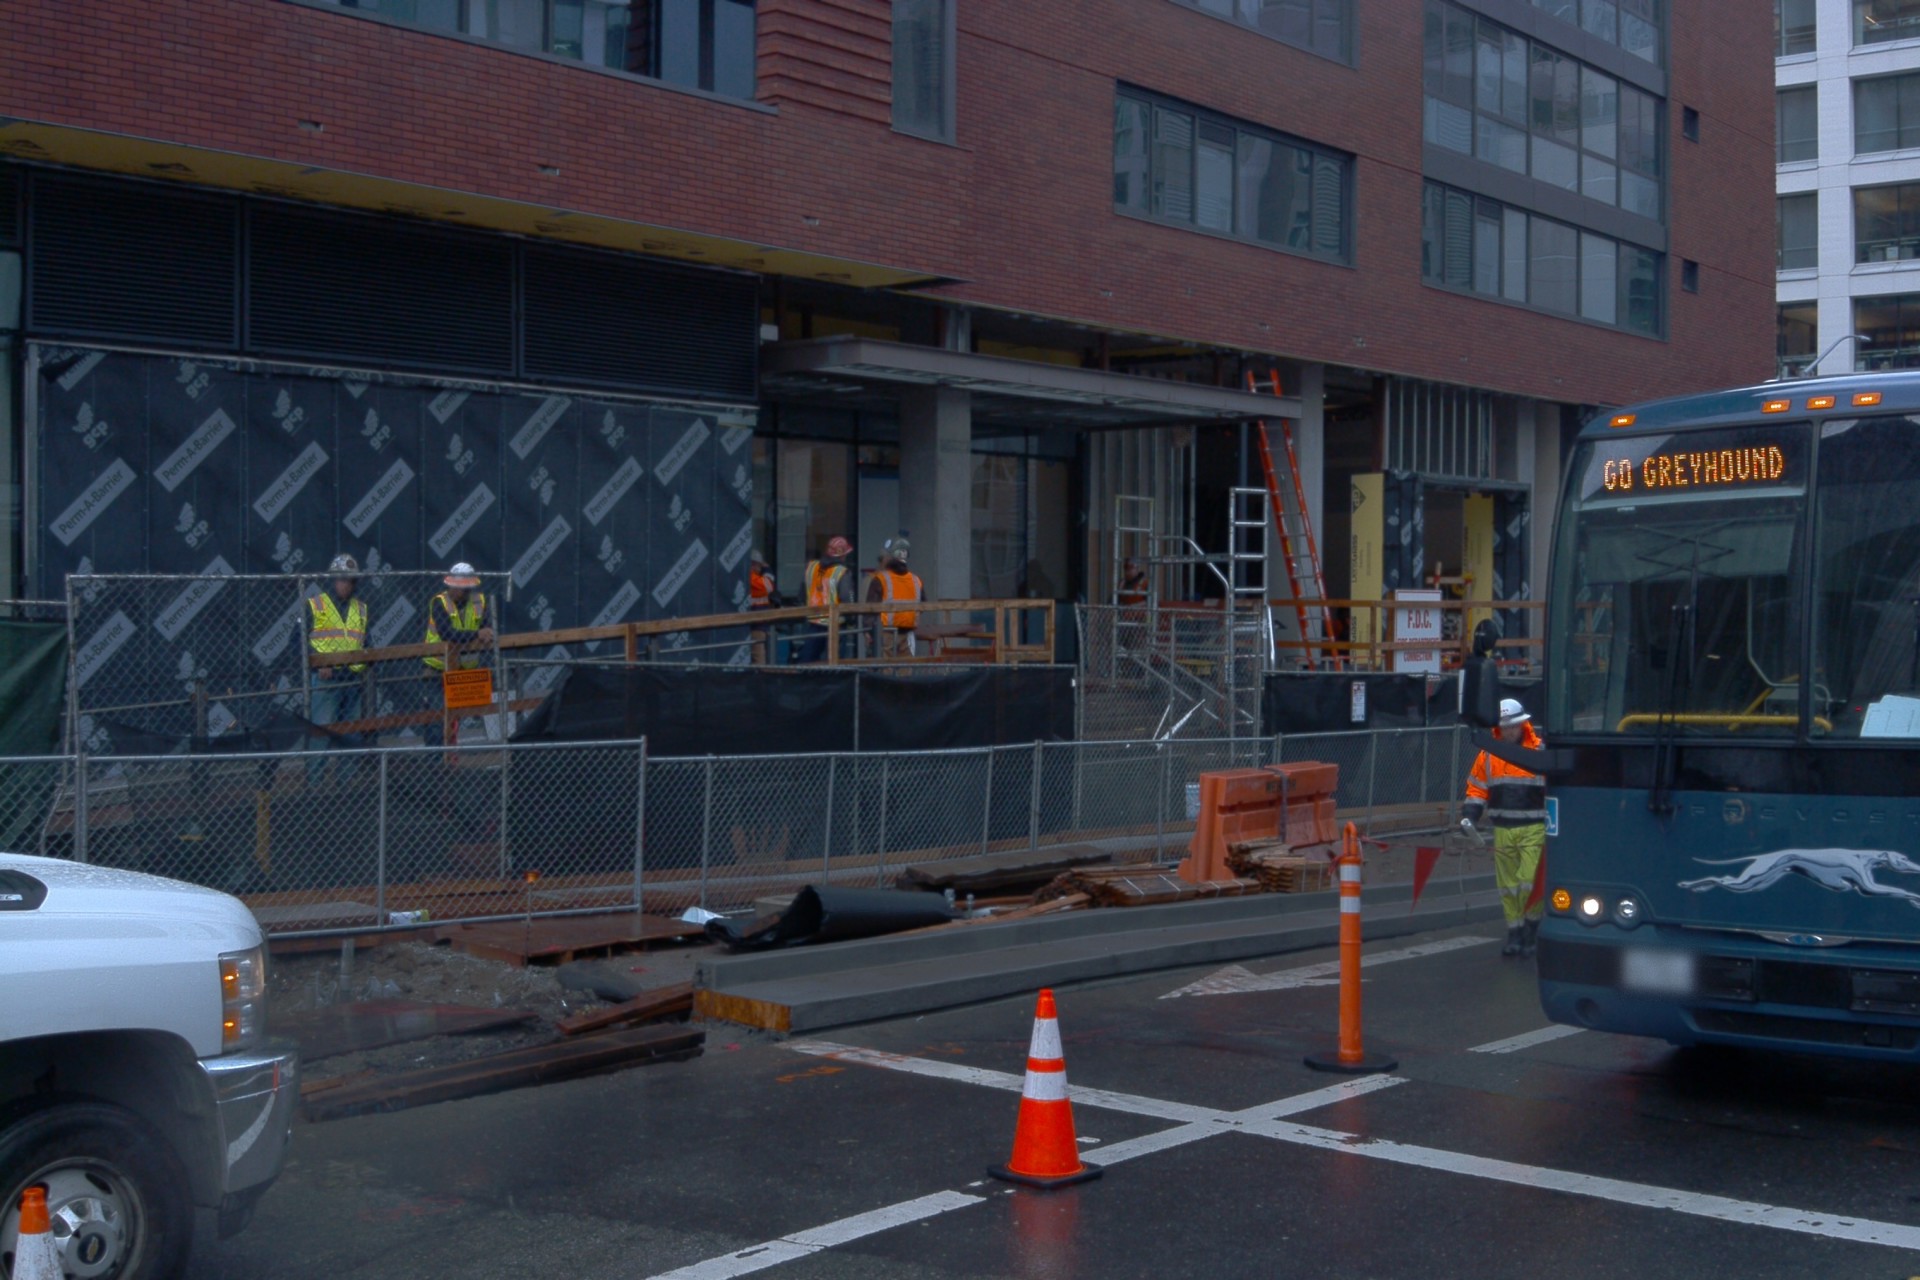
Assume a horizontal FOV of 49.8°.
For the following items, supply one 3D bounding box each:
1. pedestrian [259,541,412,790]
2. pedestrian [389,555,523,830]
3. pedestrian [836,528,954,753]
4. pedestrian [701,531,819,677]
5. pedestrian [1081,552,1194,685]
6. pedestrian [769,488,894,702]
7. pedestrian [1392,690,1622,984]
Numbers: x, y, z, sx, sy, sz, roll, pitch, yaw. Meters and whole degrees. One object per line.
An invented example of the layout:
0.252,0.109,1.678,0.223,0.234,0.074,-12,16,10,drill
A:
-4.786,0.183,15.842,0.844,1.843,0.780,2,1,42,pedestrian
-4.003,0.394,16.397,0.923,2.113,0.595,2,1,42,pedestrian
-0.661,0.003,20.744,0.963,2.200,0.778,0,1,-20,pedestrian
-2.079,-0.377,21.601,0.934,1.490,0.829,1,1,21,pedestrian
2.503,-0.302,29.146,1.123,1.824,1.087,0,1,-38,pedestrian
-1.291,-0.449,20.910,0.868,2.100,0.935,1,1,29,pedestrian
3.785,1.297,14.266,1.155,1.841,1.307,1,1,32,pedestrian
